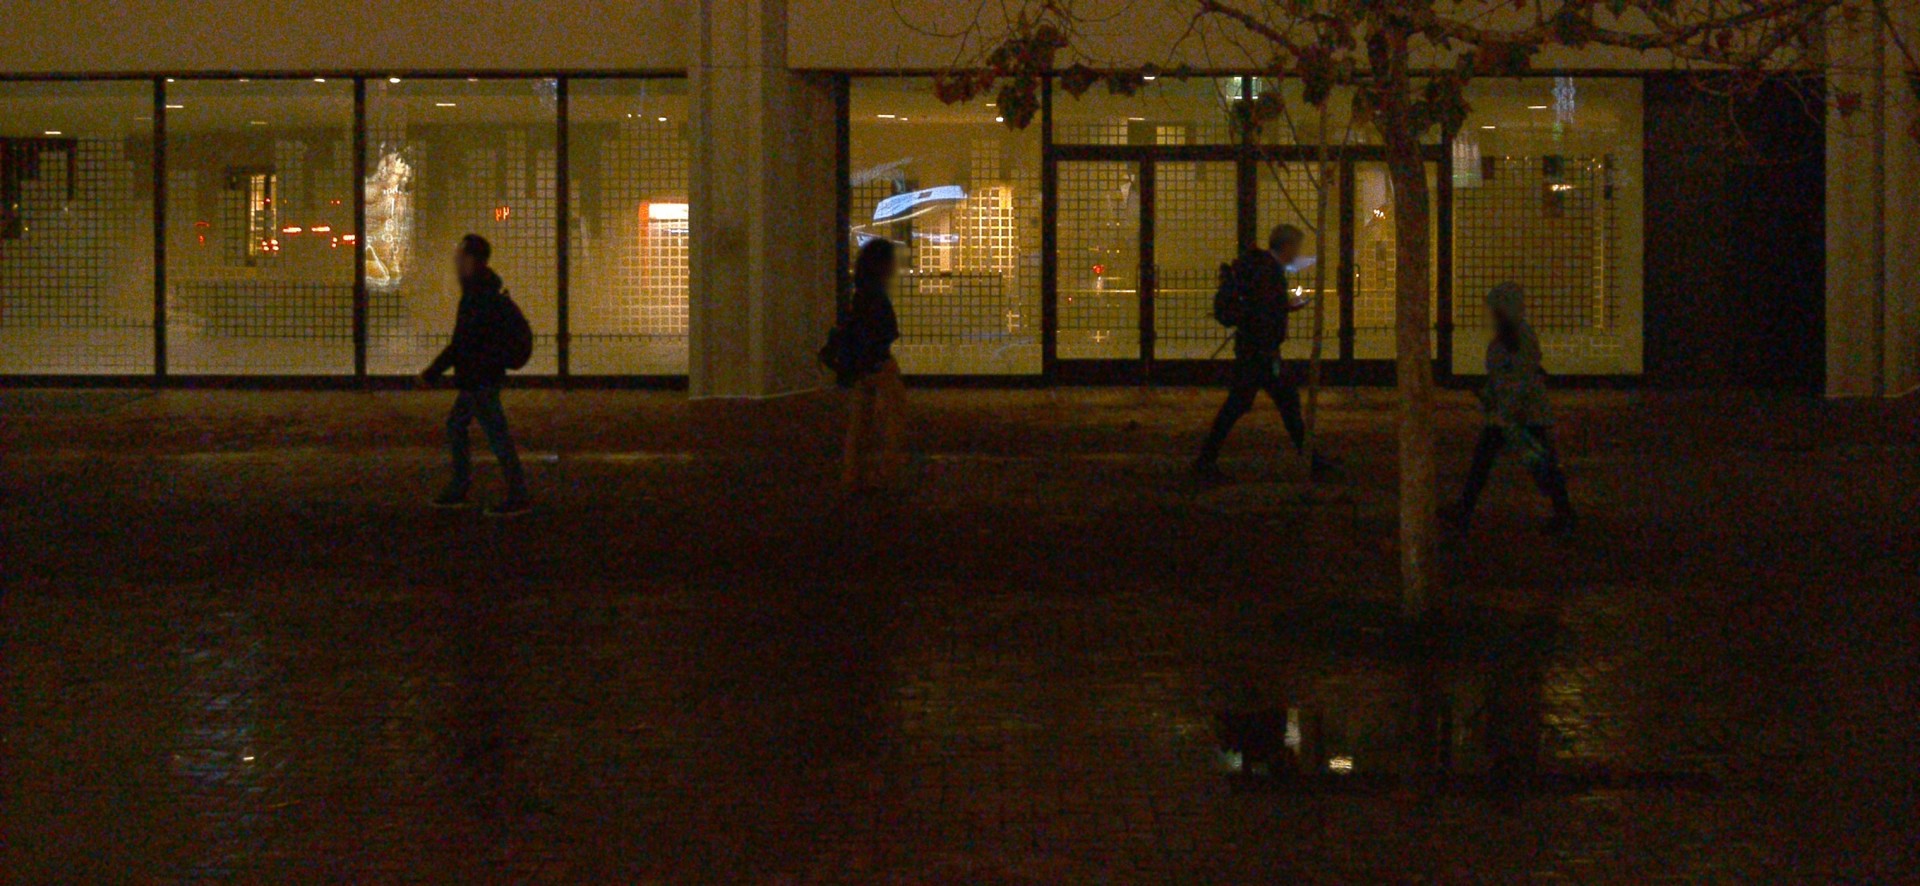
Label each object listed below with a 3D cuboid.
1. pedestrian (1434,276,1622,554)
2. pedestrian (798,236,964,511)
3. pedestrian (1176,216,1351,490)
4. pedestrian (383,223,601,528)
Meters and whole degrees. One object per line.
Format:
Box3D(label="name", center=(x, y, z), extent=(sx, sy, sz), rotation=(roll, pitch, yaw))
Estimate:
Box3D(label="pedestrian", center=(3.362, -0.200, 12.267), extent=(0.869, 1.581, 0.941), rotation=(0, 1, 1))
Box3D(label="pedestrian", center=(-0.540, -0.493, 13.774), extent=(1.048, 1.781, 0.730), rotation=(0, 0, -7))
Box3D(label="pedestrian", center=(2.078, -0.643, 14.242), extent=(1.111, 1.831, 0.844), rotation=(0, 1, 2))
Box3D(label="pedestrian", center=(-2.927, -0.448, 12.948), extent=(1.141, 1.851, 0.760), rotation=(0, 0, 8))
